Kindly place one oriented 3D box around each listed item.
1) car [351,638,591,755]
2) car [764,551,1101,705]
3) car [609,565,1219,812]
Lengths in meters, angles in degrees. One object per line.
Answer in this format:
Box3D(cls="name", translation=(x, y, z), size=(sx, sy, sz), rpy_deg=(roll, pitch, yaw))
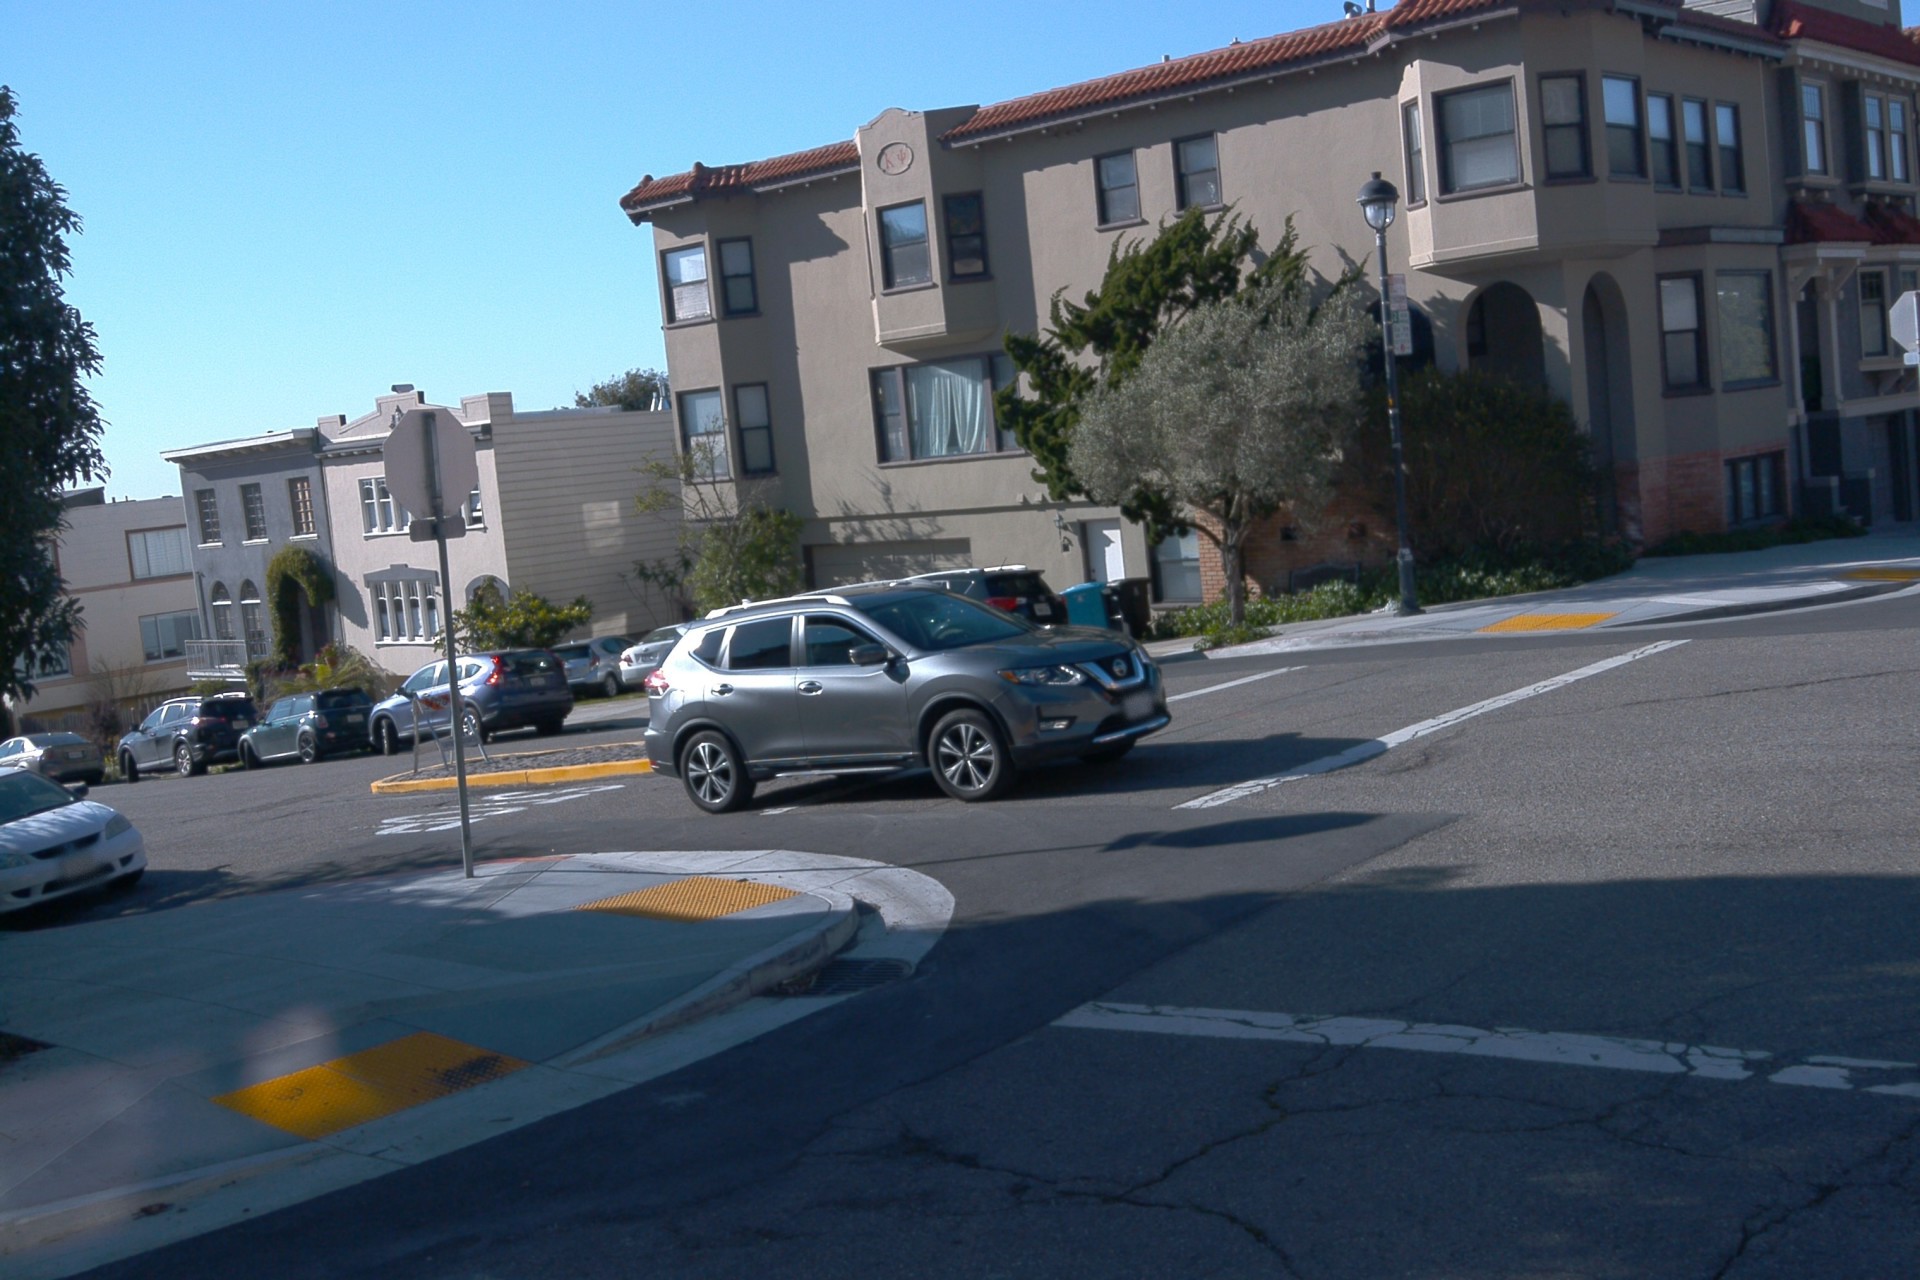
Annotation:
Box3D(cls="car", translation=(-8.778, 0.952, 37.047), size=(4.304, 1.950, 2.023), rpy_deg=(0, 0, 41))
Box3D(cls="car", translation=(-0.453, -0.159, 29.613), size=(4.526, 2.020, 2.204), rpy_deg=(0, 0, 43))
Box3D(cls="car", translation=(-0.466, 0.342, 16.834), size=(4.681, 1.740, 2.086), rpy_deg=(0, 0, 38))
